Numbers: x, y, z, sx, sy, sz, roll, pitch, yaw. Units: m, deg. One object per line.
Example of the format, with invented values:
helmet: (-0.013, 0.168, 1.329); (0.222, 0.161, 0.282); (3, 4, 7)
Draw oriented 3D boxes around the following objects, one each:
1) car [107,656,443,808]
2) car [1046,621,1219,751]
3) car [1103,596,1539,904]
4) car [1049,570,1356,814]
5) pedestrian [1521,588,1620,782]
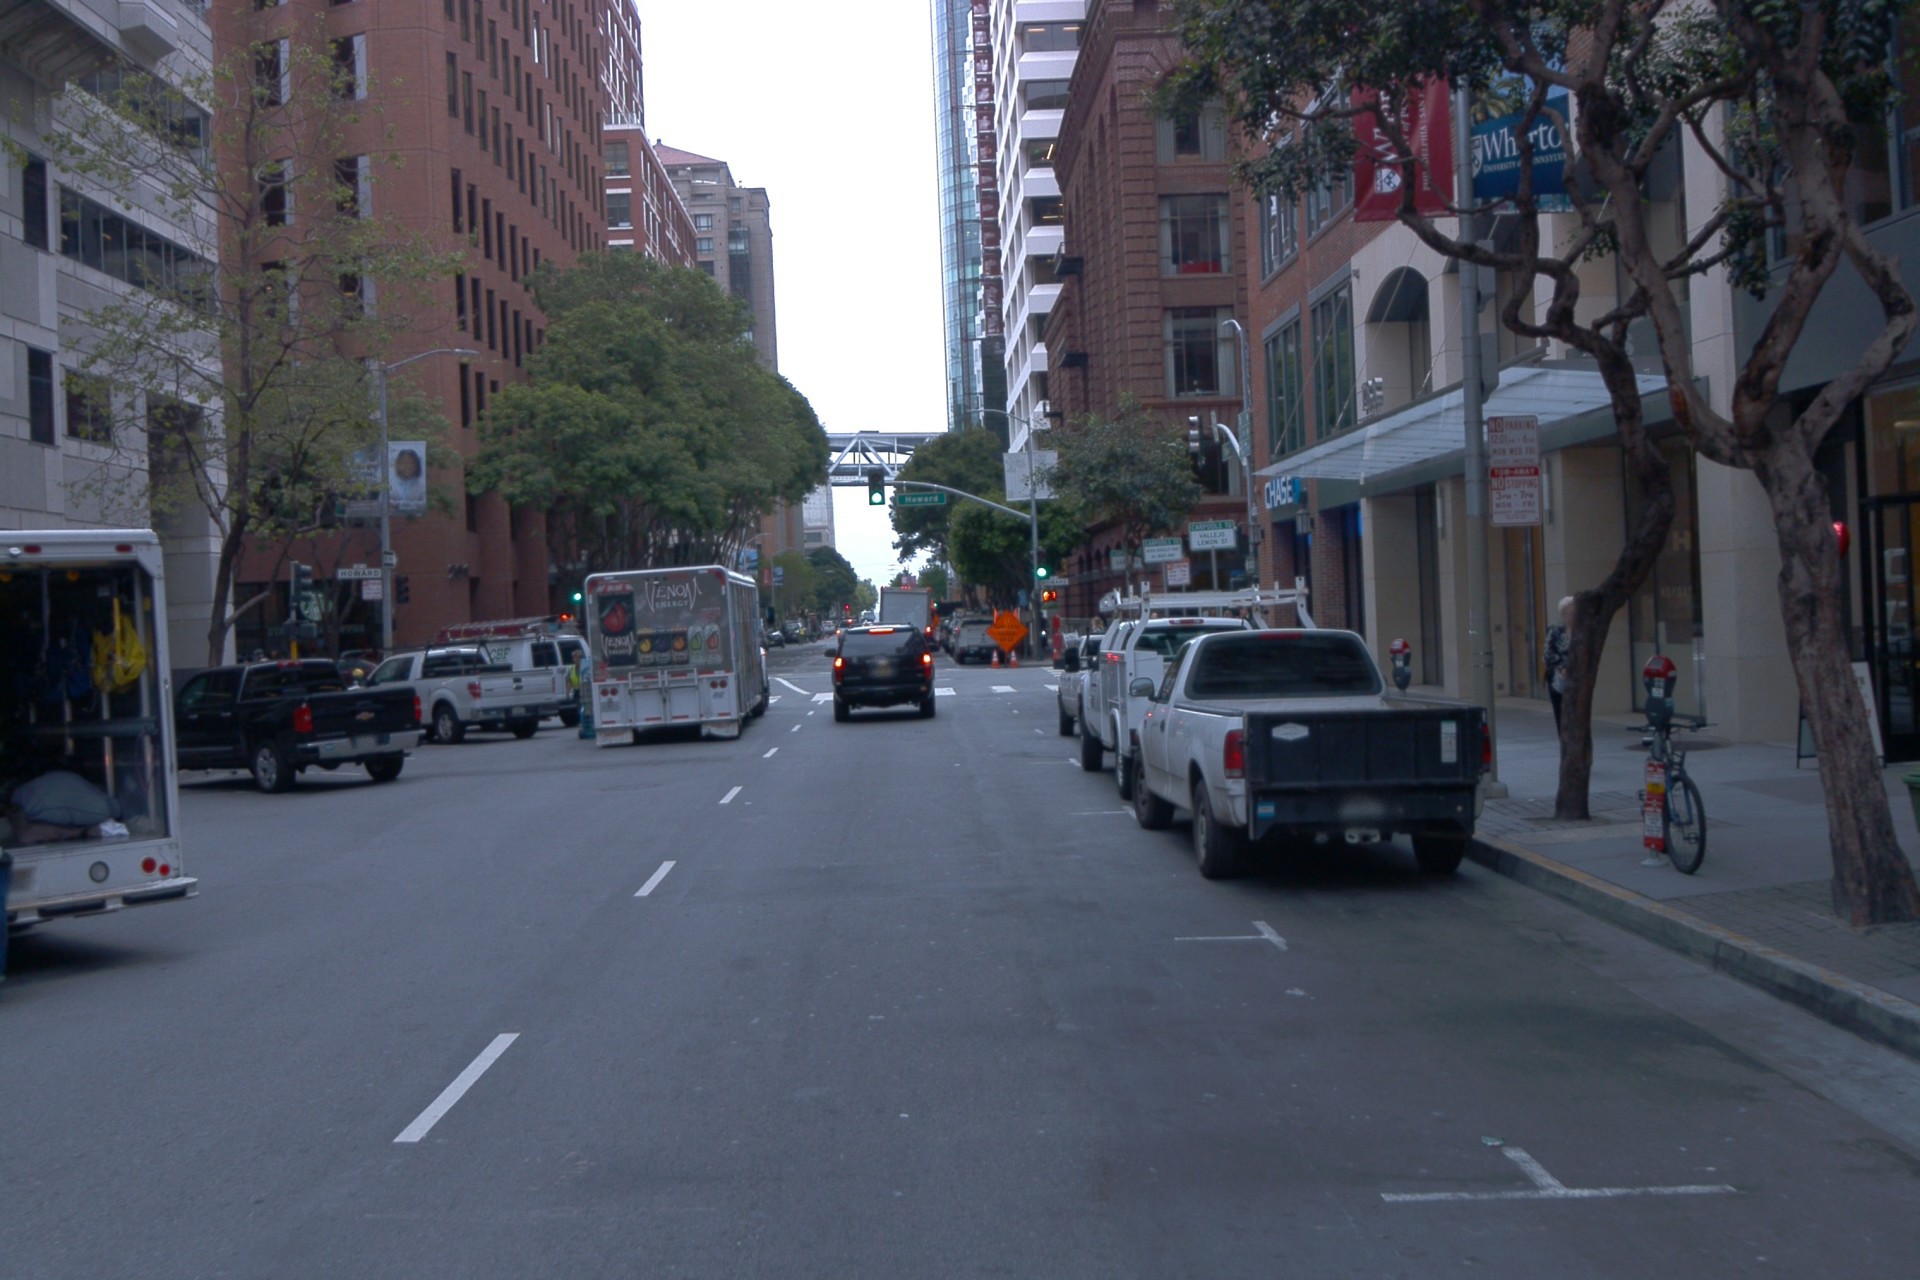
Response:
car: (-10.172, 1.252, 30.273); (5.610, 1.940, 2.292); (0, 1, 43)
car: (2.518, 0.627, 31.101); (1.986, 1.790, 4.634); (0, 1, -3)
car: (2.683, 0.714, 16.998); (2.321, 2.100, 5.869); (0, 1, -3)
car: (2.533, 0.472, 23.485); (2.553, 2.400, 6.424); (0, 1, -2)
pedestrian: (5.863, 0.419, 19.790); (0.736, 1.820, 0.912); (0, 1, 4)
